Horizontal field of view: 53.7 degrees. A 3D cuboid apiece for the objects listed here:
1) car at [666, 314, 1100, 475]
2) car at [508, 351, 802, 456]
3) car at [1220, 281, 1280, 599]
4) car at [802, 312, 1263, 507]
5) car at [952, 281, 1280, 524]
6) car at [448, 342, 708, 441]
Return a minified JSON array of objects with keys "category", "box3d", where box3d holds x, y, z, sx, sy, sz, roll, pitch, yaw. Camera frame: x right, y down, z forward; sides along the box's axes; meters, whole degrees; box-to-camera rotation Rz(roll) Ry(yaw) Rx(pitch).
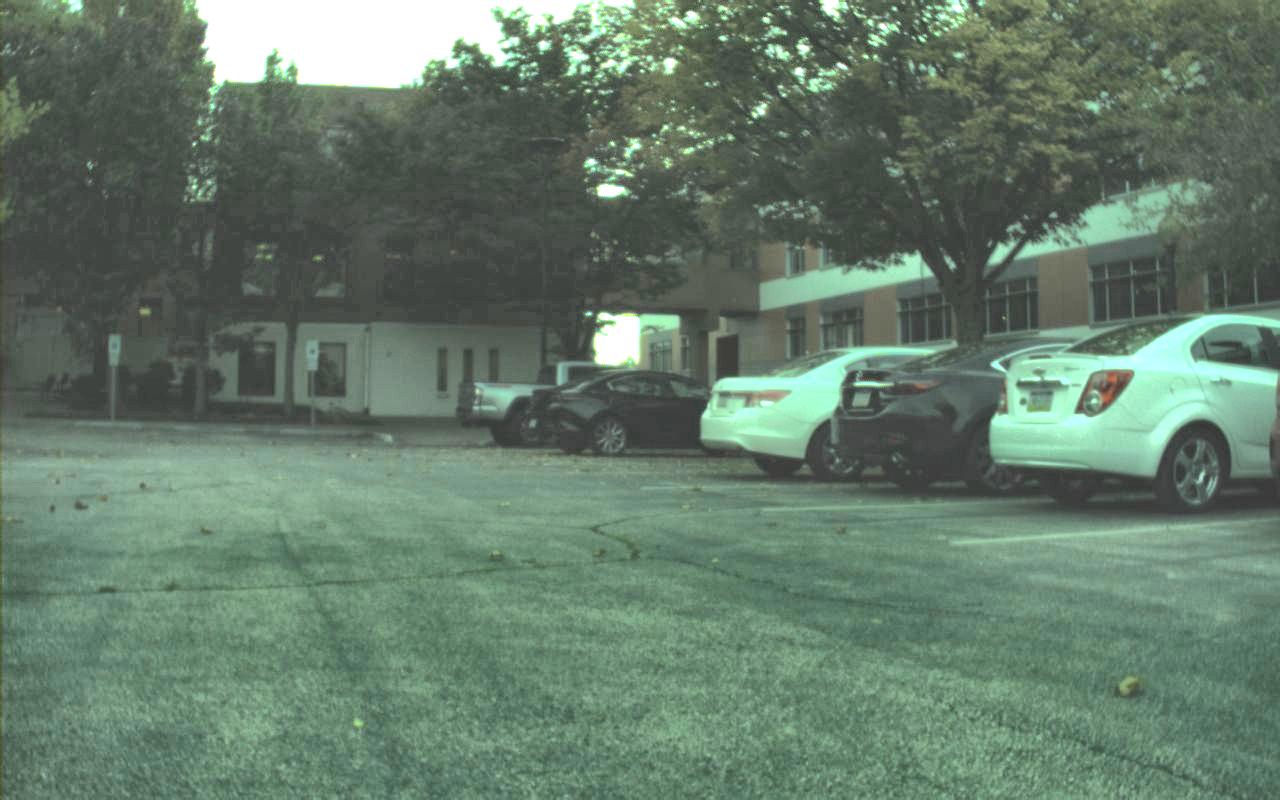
[{"category":"car","box3d":[2.765,-0.080,13.934,4.587,1.586,1.942,0,1,-16]},{"category":"car","box3d":[0.273,0.018,21.230,4.600,1.601,1.955,0,1,-27]},{"category":"car","box3d":[6.005,0.210,6.833,4.415,1.628,1.945,0,1,-18]},{"category":"car","box3d":[3.901,0.052,11.604,4.380,1.568,1.904,0,1,-19]},{"category":"car","box3d":[4.820,0.004,9.320,4.408,1.583,1.907,0,1,-17]},{"category":"car","box3d":[-1.313,-0.196,26.014,5.021,1.917,2.094,0,1,-20]}]
